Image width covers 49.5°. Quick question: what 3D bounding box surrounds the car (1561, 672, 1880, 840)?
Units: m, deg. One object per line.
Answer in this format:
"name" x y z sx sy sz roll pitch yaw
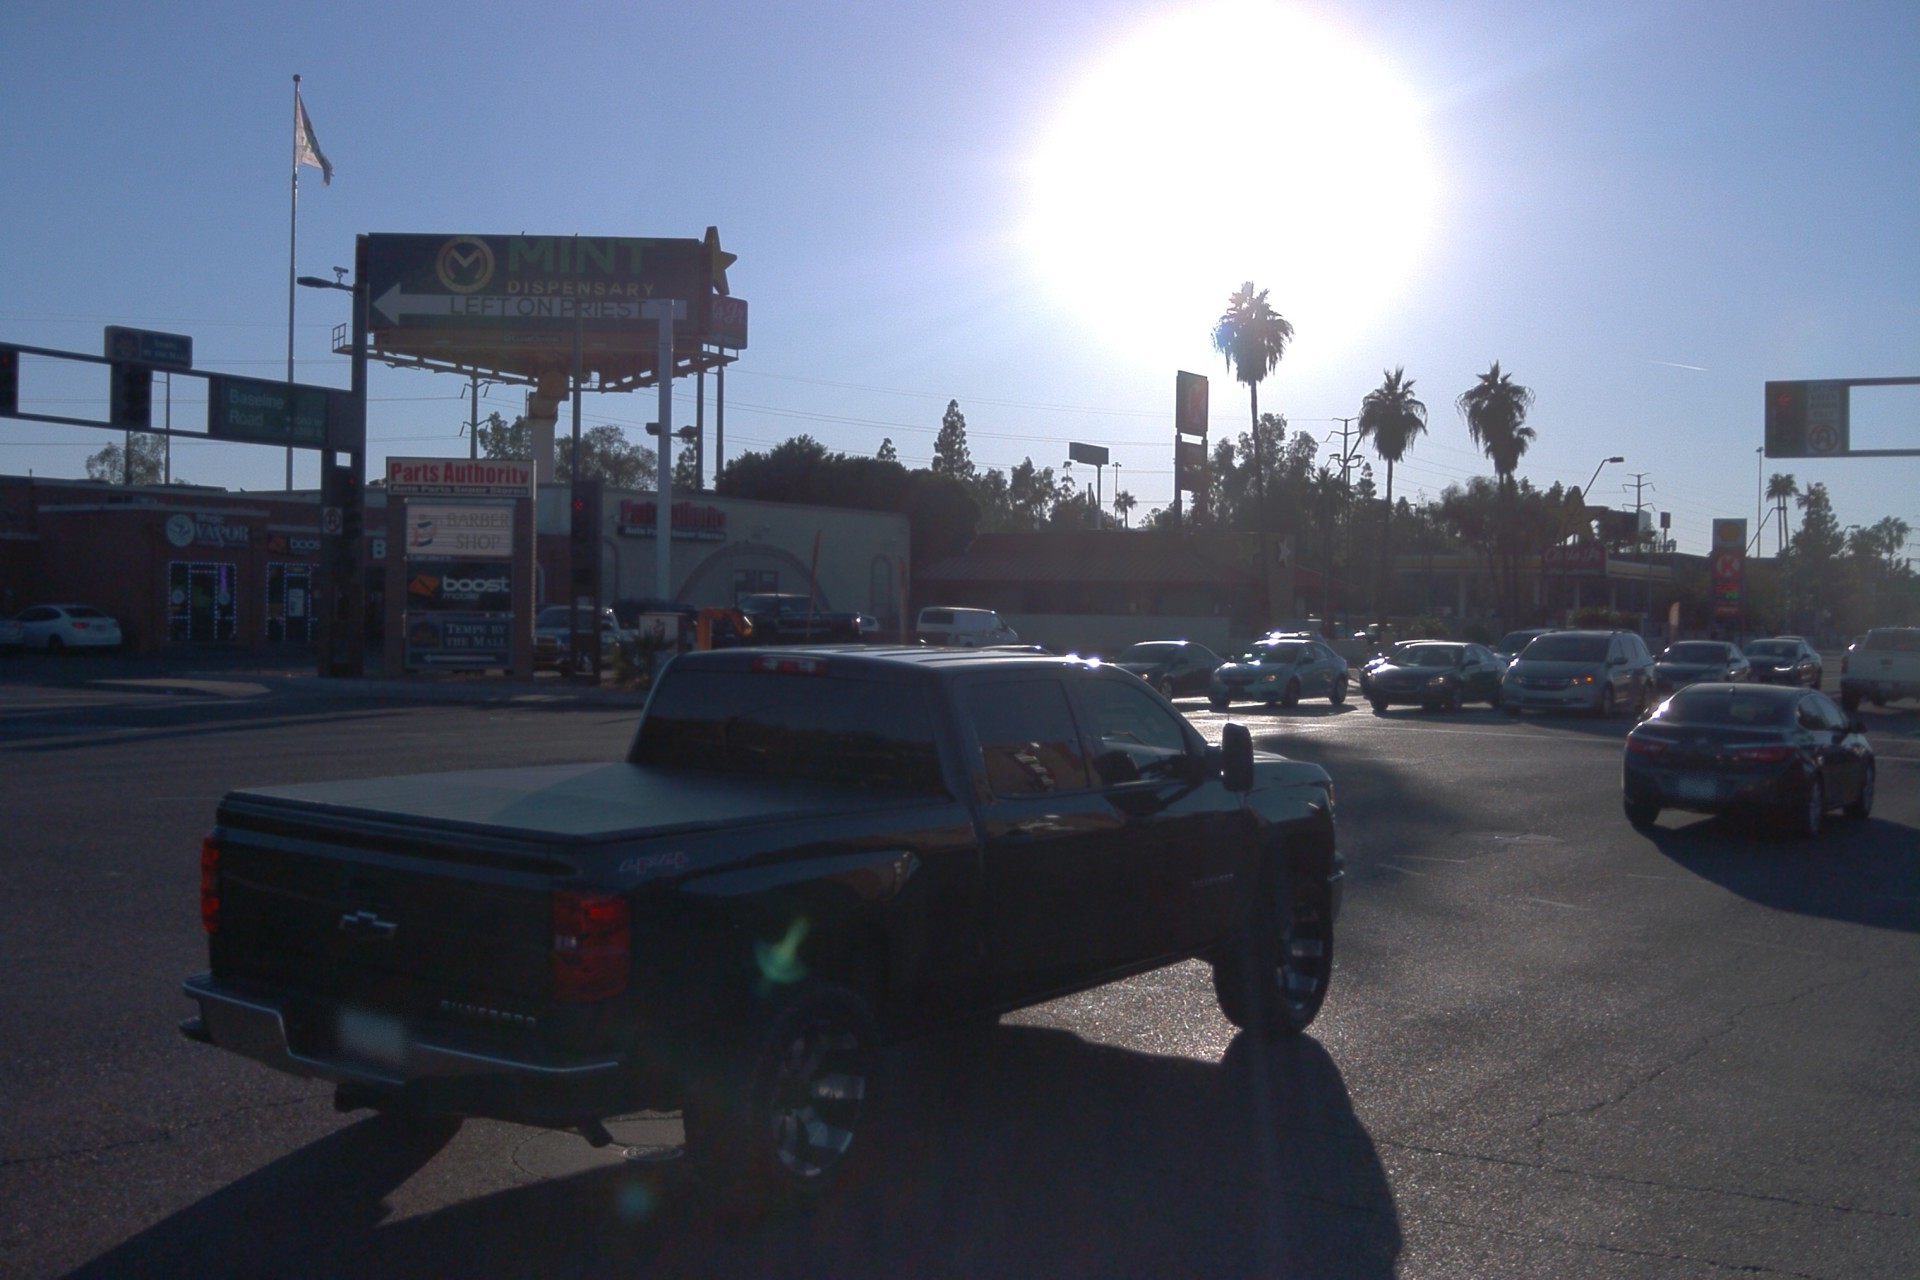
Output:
"car" 8.129 1.125 21.996 2.100 1.537 4.601 -1 -1 34

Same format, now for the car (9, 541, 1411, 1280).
"car" -0.478 0.888 9.108 2.733 2.260 6.186 -1 -1 33
